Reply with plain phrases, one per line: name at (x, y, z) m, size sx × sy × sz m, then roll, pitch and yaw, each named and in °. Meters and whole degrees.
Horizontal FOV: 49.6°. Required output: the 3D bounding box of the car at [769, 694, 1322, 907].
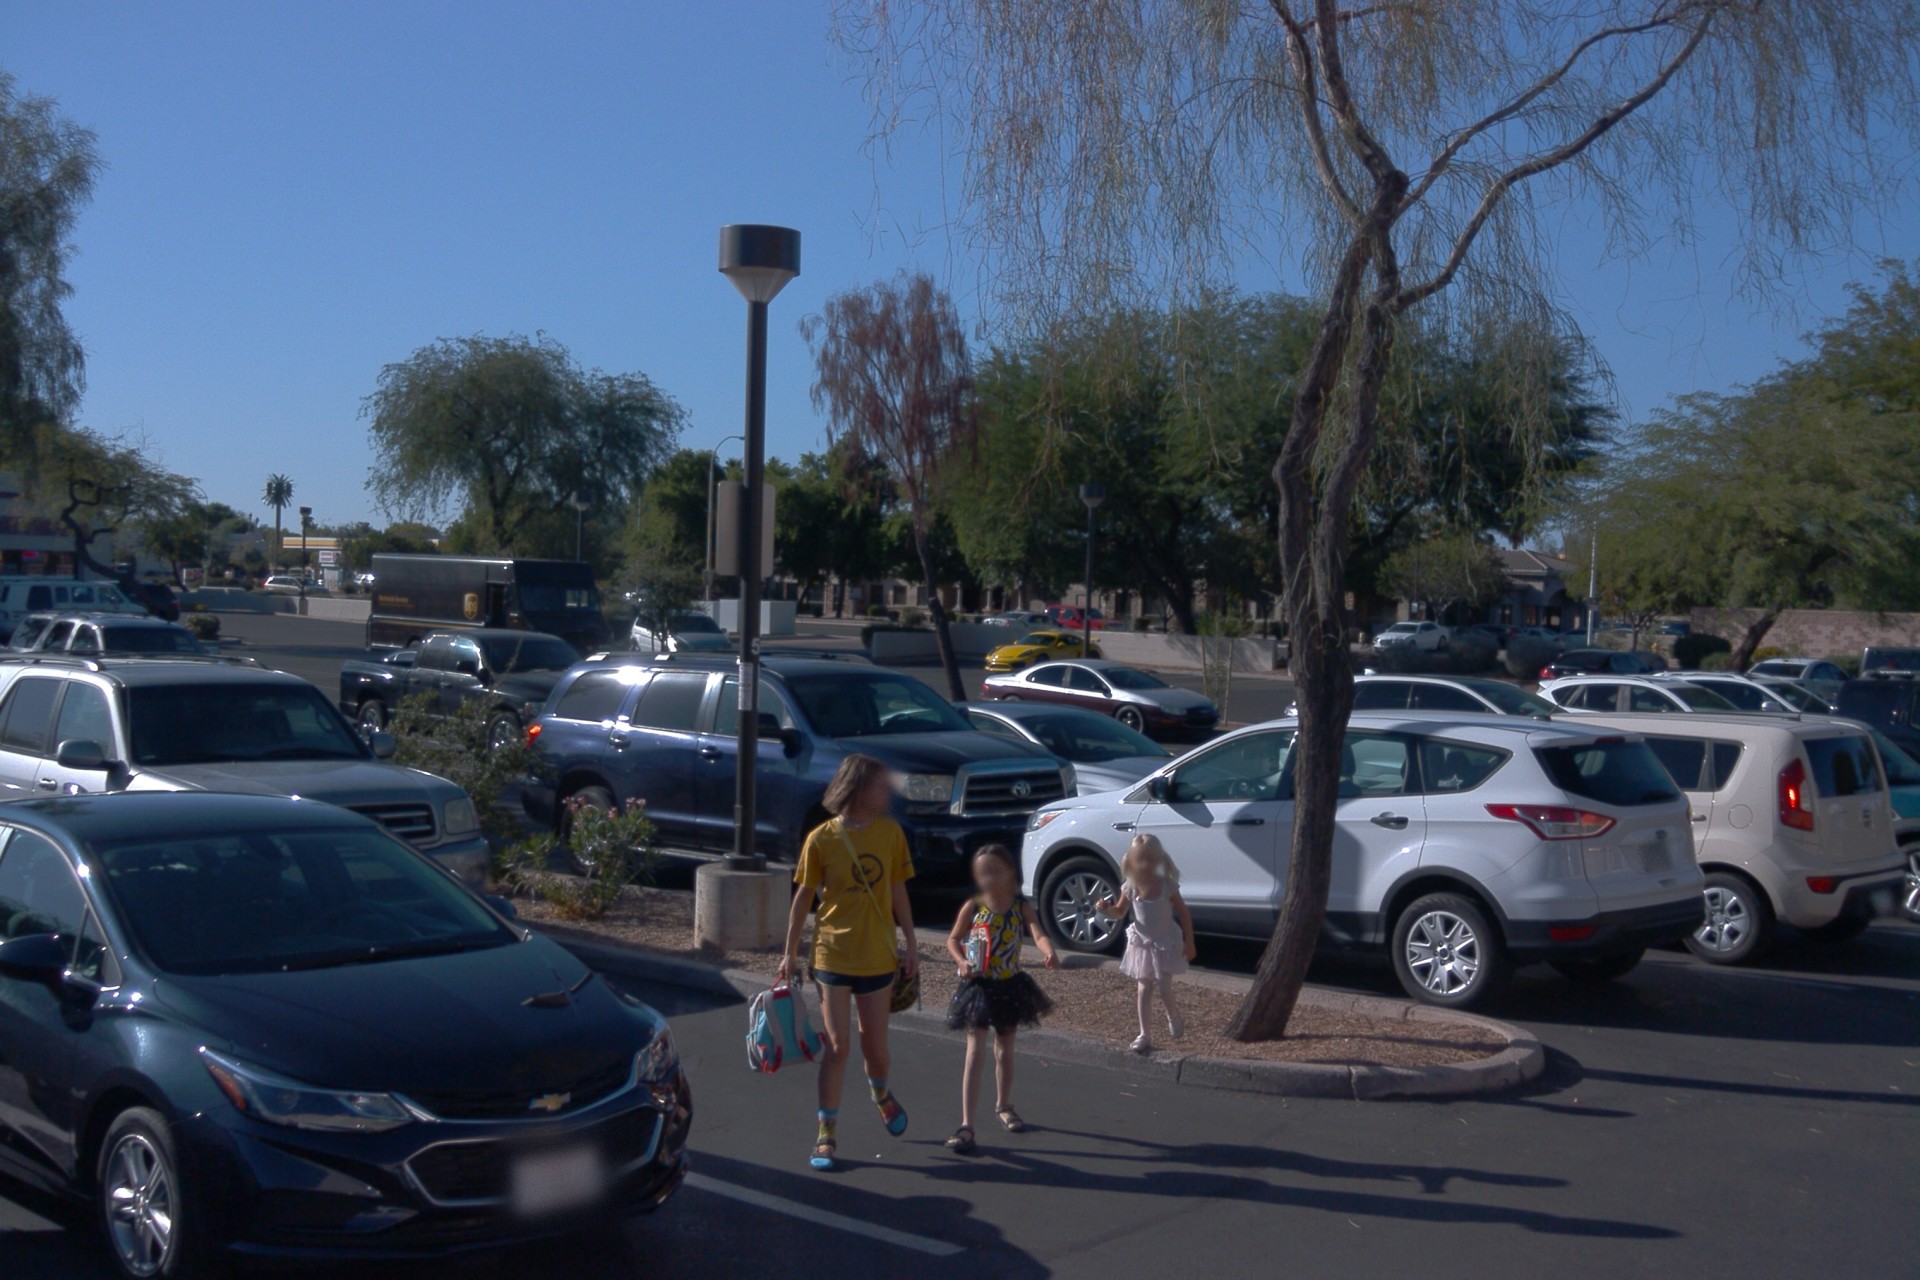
car at (0.671, 1.336, 18.880) m, size 4.717 × 1.550 × 2.178 m, roll 1°, pitch 0°, yaw 43°

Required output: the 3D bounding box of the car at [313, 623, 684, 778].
car at (-6.812, 0.792, 30.204) m, size 5.728 × 2.030 × 2.534 m, roll 1°, pitch 0°, yaw 44°

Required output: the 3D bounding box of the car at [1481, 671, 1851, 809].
car at (9.910, 1.332, 29.320) m, size 4.434 × 1.720 × 2.160 m, roll 1°, pitch 0°, yaw 44°

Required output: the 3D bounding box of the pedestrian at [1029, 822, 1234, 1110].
pedestrian at (0.827, 1.508, 9.823) m, size 0.826 × 1.200 × 0.819 m, roll 1°, pitch 0°, yaw 14°

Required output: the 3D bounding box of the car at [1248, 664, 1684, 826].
car at (6.112, 1.191, 25.392) m, size 4.659 × 1.720 × 2.253 m, roll 1°, pitch 0°, yaw 43°

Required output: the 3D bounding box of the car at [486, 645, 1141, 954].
car at (-1.323, 1.110, 16.895) m, size 5.089 × 2.070 × 2.506 m, roll 1°, pitch 0°, yaw 43°

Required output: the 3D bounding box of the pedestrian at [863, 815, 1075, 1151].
pedestrian at (0.040, 1.399, 8.674) m, size 0.828 × 1.260 × 0.818 m, roll 1°, pitch 0°, yaw 0°

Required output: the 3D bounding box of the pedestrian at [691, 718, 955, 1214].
pedestrian at (-0.512, 1.228, 8.199) m, size 0.891 × 1.790 × 0.961 m, roll 1°, pitch 0°, yaw 4°

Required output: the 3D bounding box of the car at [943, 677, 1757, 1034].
car at (2.313, 1.164, 13.162) m, size 4.652 × 1.760 × 2.103 m, roll 1°, pitch 0°, yaw 43°
